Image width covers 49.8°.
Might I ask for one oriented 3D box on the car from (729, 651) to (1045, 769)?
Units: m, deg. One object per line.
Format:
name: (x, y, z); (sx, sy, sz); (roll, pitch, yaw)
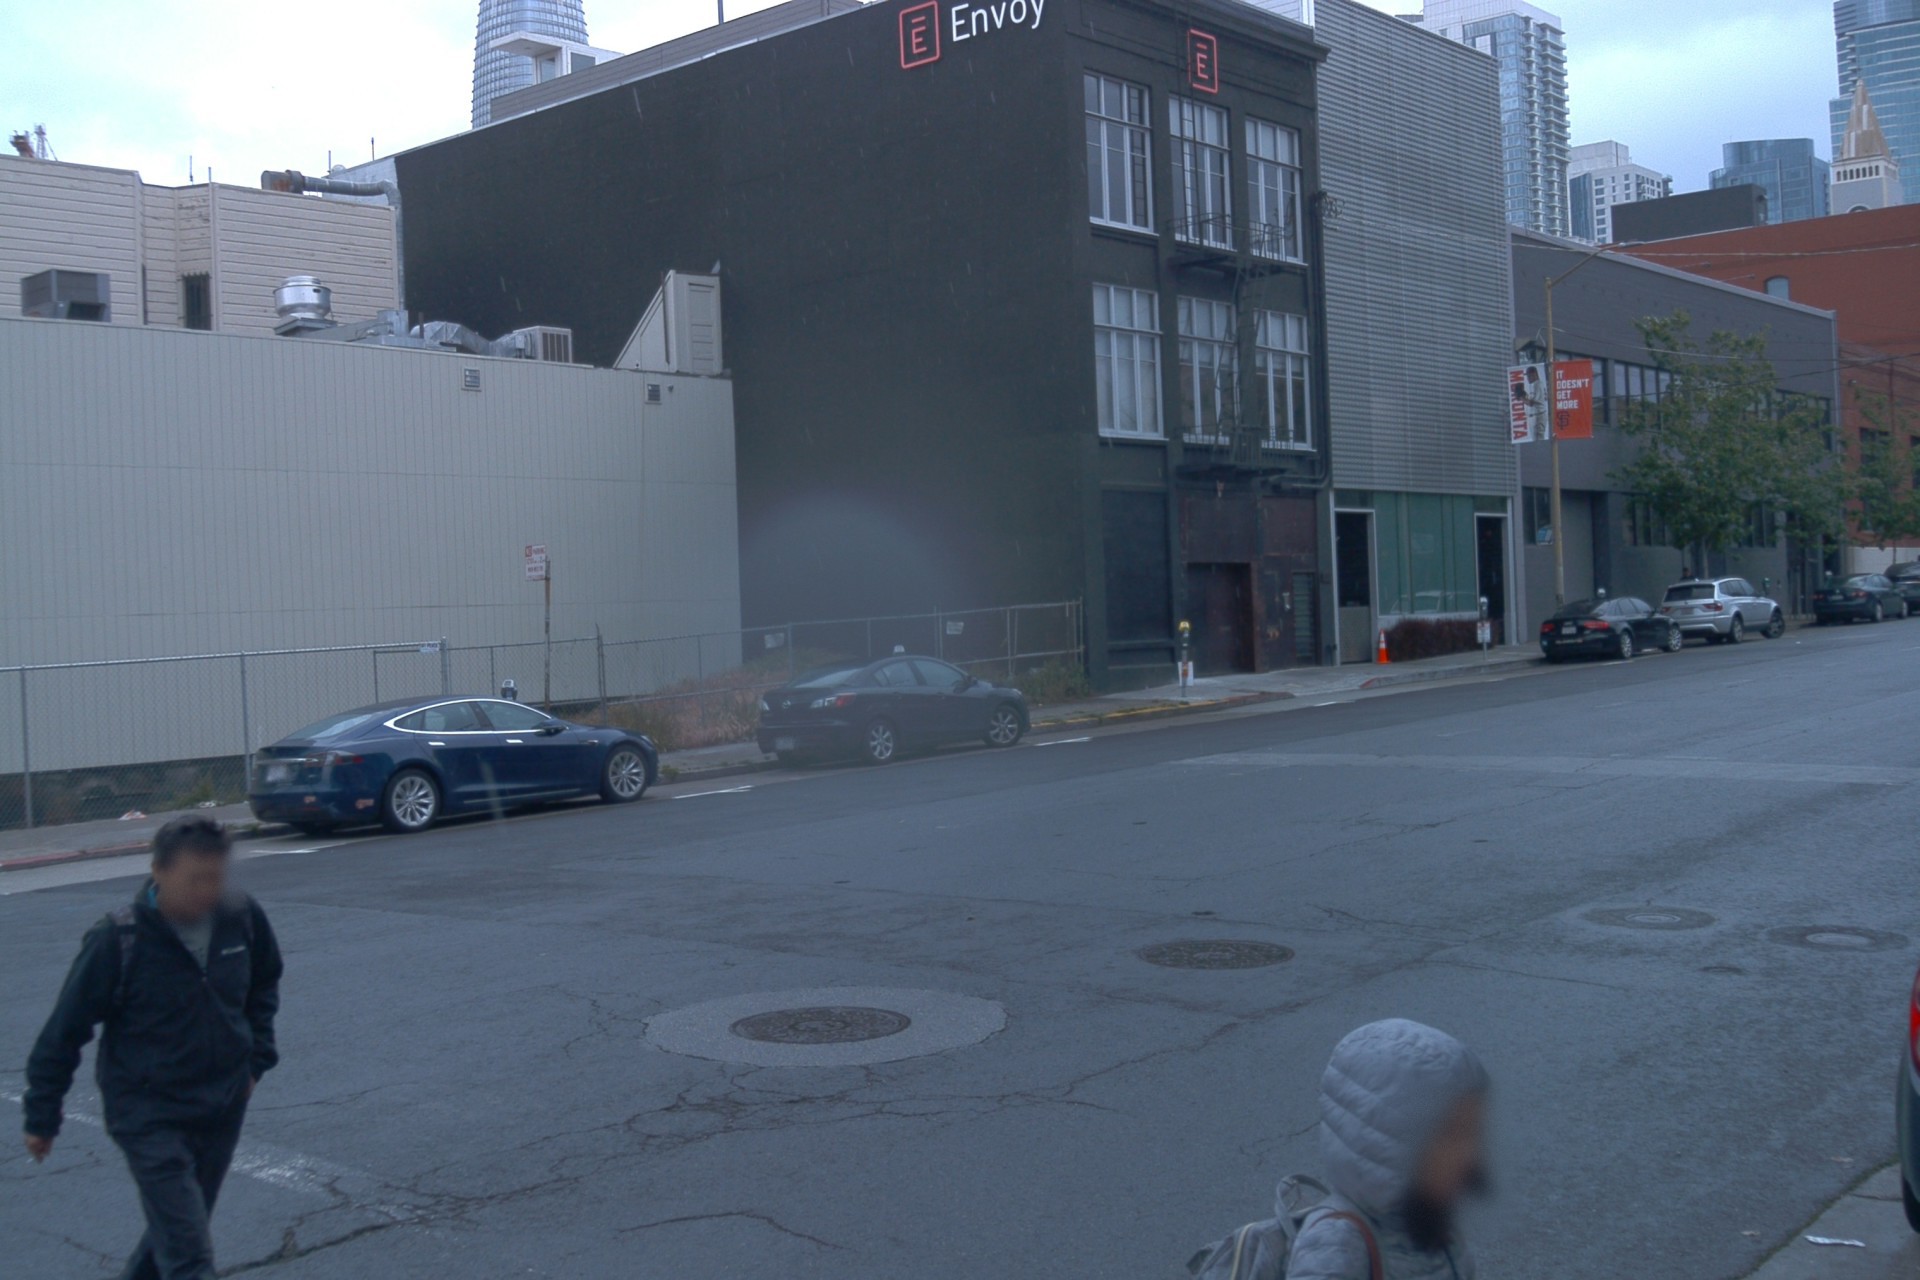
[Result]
car: (-0.935, 0.919, 28.734); (2.005, 1.500, 4.289); (0, -1, 41)

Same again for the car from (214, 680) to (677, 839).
car: (-5.624, 1.242, 23.186); (2.011, 1.550, 4.769); (0, -1, 39)

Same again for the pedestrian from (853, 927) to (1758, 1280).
pedestrian: (0.547, 1.313, 3.168); (1.007, 1.560, 0.993); (0, -1, 38)
